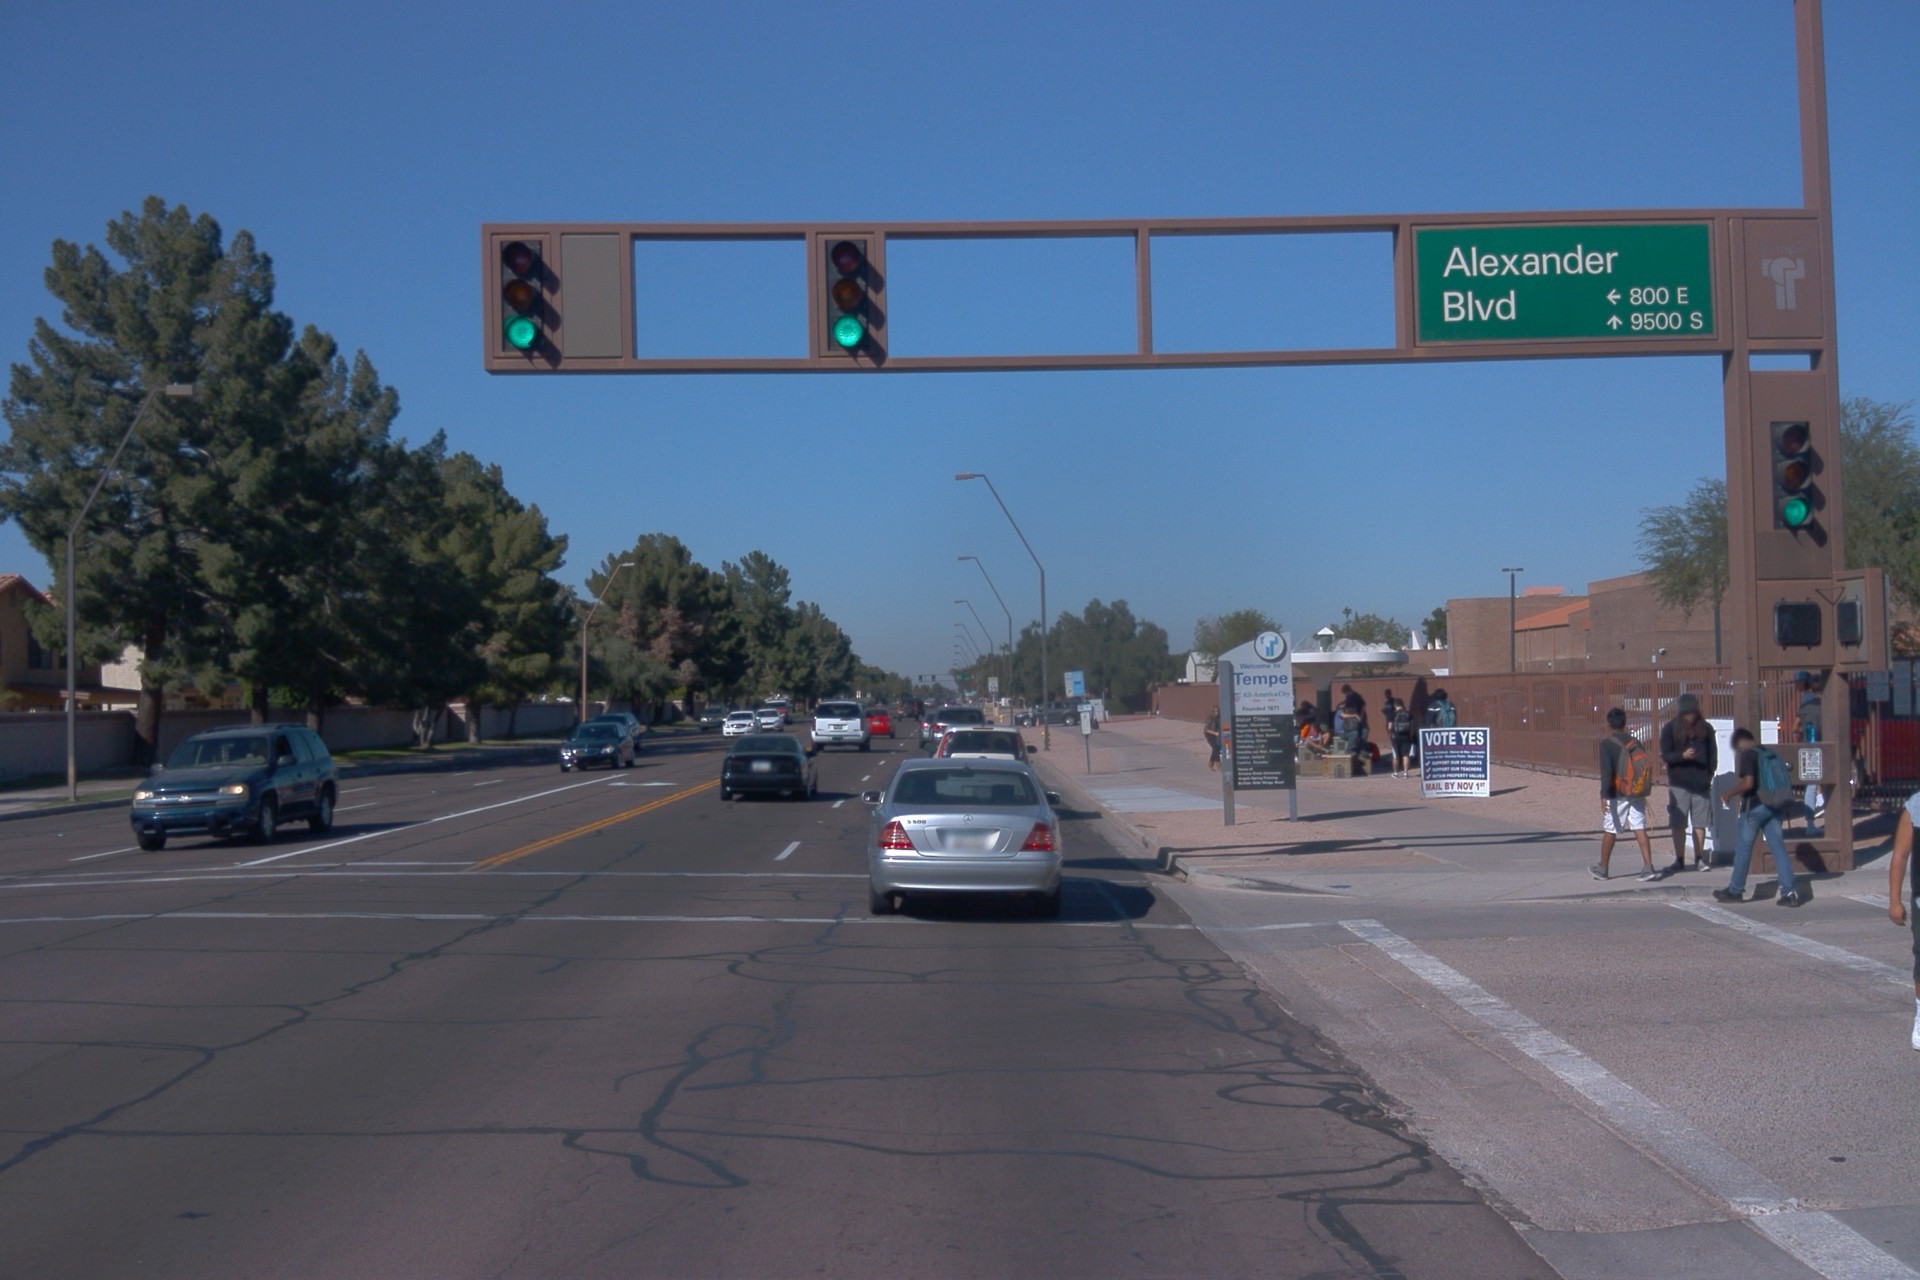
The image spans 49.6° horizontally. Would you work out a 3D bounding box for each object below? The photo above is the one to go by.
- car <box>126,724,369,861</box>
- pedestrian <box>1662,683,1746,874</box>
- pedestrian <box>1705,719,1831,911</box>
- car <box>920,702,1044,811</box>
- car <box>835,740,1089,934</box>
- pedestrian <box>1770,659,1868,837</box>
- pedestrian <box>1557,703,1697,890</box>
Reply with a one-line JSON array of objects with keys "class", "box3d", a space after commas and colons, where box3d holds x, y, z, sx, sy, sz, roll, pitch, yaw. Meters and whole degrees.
[{"class": "car", "box3d": [-10.942, 2.286, 32.346, 2.110, 1.870, 4.825, 0, -1, 0]}, {"class": "pedestrian", "box3d": [7.425, 1.366, 20.786, 0.717, 1.860, 0.827, 0, -1, 15]}, {"class": "pedestrian", "box3d": [7.285, 1.557, 18.765, 0.711, 1.670, 0.792, 0, -1, -27]}, {"class": "car", "box3d": [0.377, 2.005, 36.808, 2.056, 1.760, 4.487, 0, -1, 0]}, {"class": "car", "box3d": [-0.003, 1.866, 20.831, 2.265, 1.600, 4.514, 0, -1, 0]}, {"class": "pedestrian", "box3d": [9.600, 1.190, 23.263, 0.785, 1.950, 0.816, 0, -1, 3]}, {"class": "pedestrian", "box3d": [6.473, 1.492, 20.212, 0.918, 1.750, 0.956, 0, -1, -15]}]
